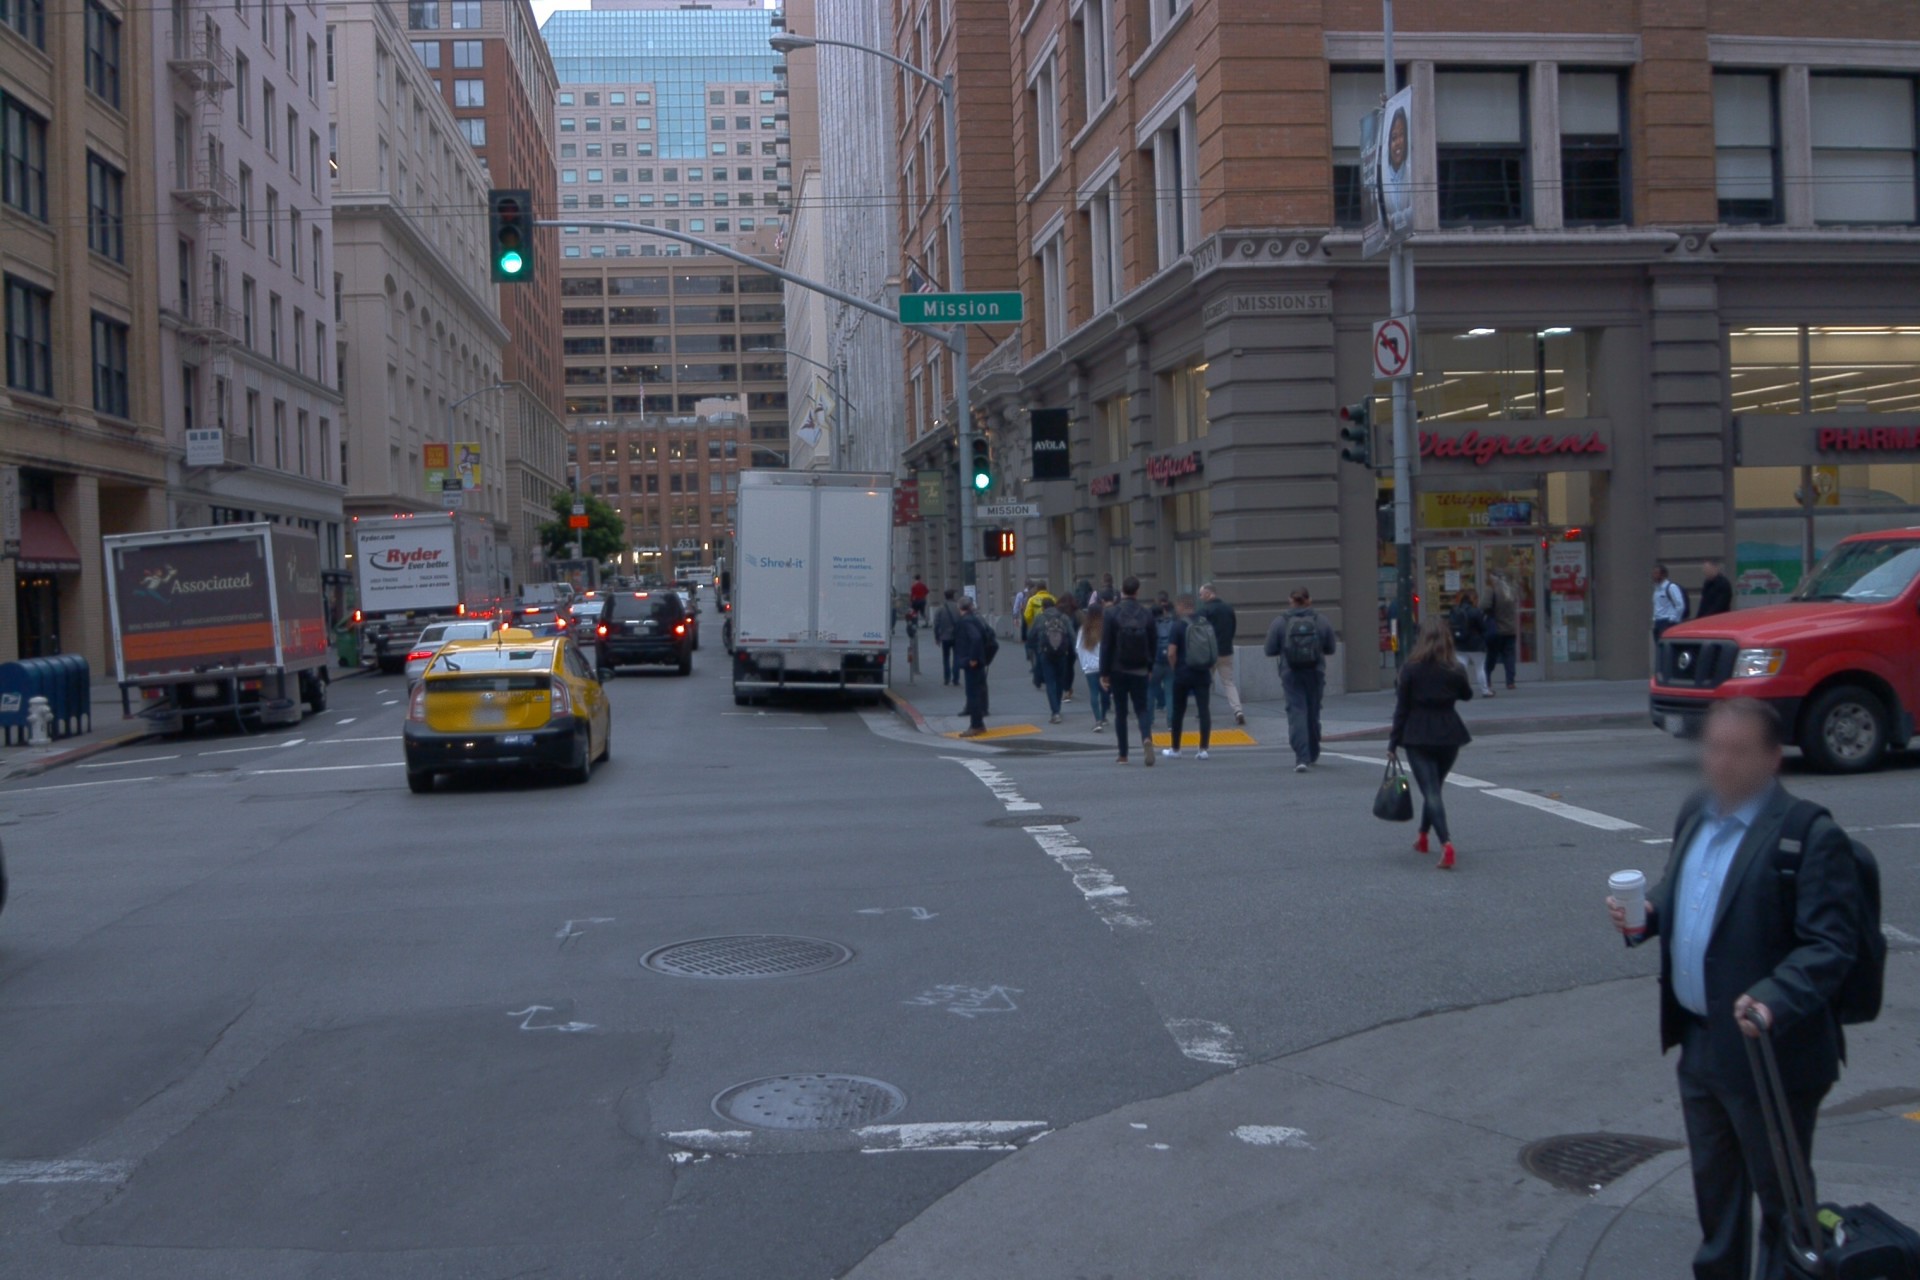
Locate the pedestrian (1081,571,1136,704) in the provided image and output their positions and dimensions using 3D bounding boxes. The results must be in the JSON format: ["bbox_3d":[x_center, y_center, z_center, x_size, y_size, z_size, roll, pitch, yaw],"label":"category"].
[{"bbox_3d":[2.221,-0.047,30.783,0.664,1.950,1.096,0,1,-4],"label":"pedestrian"}]

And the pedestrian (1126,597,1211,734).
[{"bbox_3d":[2.634,0.308,26.003,0.857,1.690,0.875,0,1,-10],"label":"pedestrian"}]

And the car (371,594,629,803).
[{"bbox_3d":[-4.682,0.509,21.595,2.068,1.950,4.597,0,1,-5],"label":"car"}]

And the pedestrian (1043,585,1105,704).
[{"bbox_3d":[1.701,0.053,30.728,0.708,1.740,1.112,0,1,-8],"label":"pedestrian"}]

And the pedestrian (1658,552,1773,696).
[{"bbox_3d":[9.839,-0.214,26.817,1.127,1.830,0.858,0,1,-8],"label":"pedestrian"}]

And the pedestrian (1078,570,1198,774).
[{"bbox_3d":[1.765,0.297,20.576,0.918,1.980,1.155,0,1,-10],"label":"pedestrian"}]

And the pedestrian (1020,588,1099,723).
[{"bbox_3d":[1.335,0.193,27.901,0.911,1.790,1.173,0,1,-5],"label":"pedestrian"}]

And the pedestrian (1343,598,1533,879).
[{"bbox_3d":[3.036,0.593,13.150,0.785,1.710,1.088,0,1,-12],"label":"pedestrian"}]

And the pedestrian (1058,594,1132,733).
[{"bbox_3d":[1.714,0.287,26.216,0.721,1.730,0.991,0,1,-9],"label":"pedestrian"}]

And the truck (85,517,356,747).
[{"bbox_3d":[-11.870,-0.172,33.635,3.011,3.380,6.430,0,1,-9],"label":"truck"}]

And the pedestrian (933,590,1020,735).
[{"bbox_3d":[0.218,0.285,27.346,1.129,1.890,0.857,0,1,0],"label":"pedestrian"}]

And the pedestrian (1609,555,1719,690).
[{"bbox_3d":[9.475,-0.236,27.696,1.127,1.780,0.858,0,1,-8],"label":"pedestrian"}]

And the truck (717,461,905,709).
[{"bbox_3d":[-2.733,-0.907,35.392,2.836,3.790,7.822,0,1,-7],"label":"truck"}]

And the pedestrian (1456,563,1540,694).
[{"bbox_3d":[7.645,-0.171,29.237,0.859,1.830,0.885,0,1,-11],"label":"pedestrian"}]

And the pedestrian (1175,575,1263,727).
[{"bbox_3d":[3.309,0.131,26.305,0.857,1.900,0.875,-1,1,-13],"label":"pedestrian"}]

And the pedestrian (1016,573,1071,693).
[{"bbox_3d":[1.320,-0.118,32.759,0.813,1.880,1.040,0,1,-1],"label":"pedestrian"}]

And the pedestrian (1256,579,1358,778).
[{"bbox_3d":[3.229,0.343,19.214,0.786,1.800,1.147,0,1,2],"label":"pedestrian"}]

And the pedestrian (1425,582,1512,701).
[{"bbox_3d":[6.828,0.010,27.629,0.928,1.580,0.698,-1,1,-36],"label":"pedestrian"}]

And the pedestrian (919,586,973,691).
[{"bbox_3d":[-0.239,-0.035,35.382,0.779,1.760,1.028,0,1,-8],"label":"pedestrian"}]

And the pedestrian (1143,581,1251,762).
[{"bbox_3d":[2.453,0.312,21.361,0.815,1.830,0.944,-1,1,-14],"label":"pedestrian"}]
